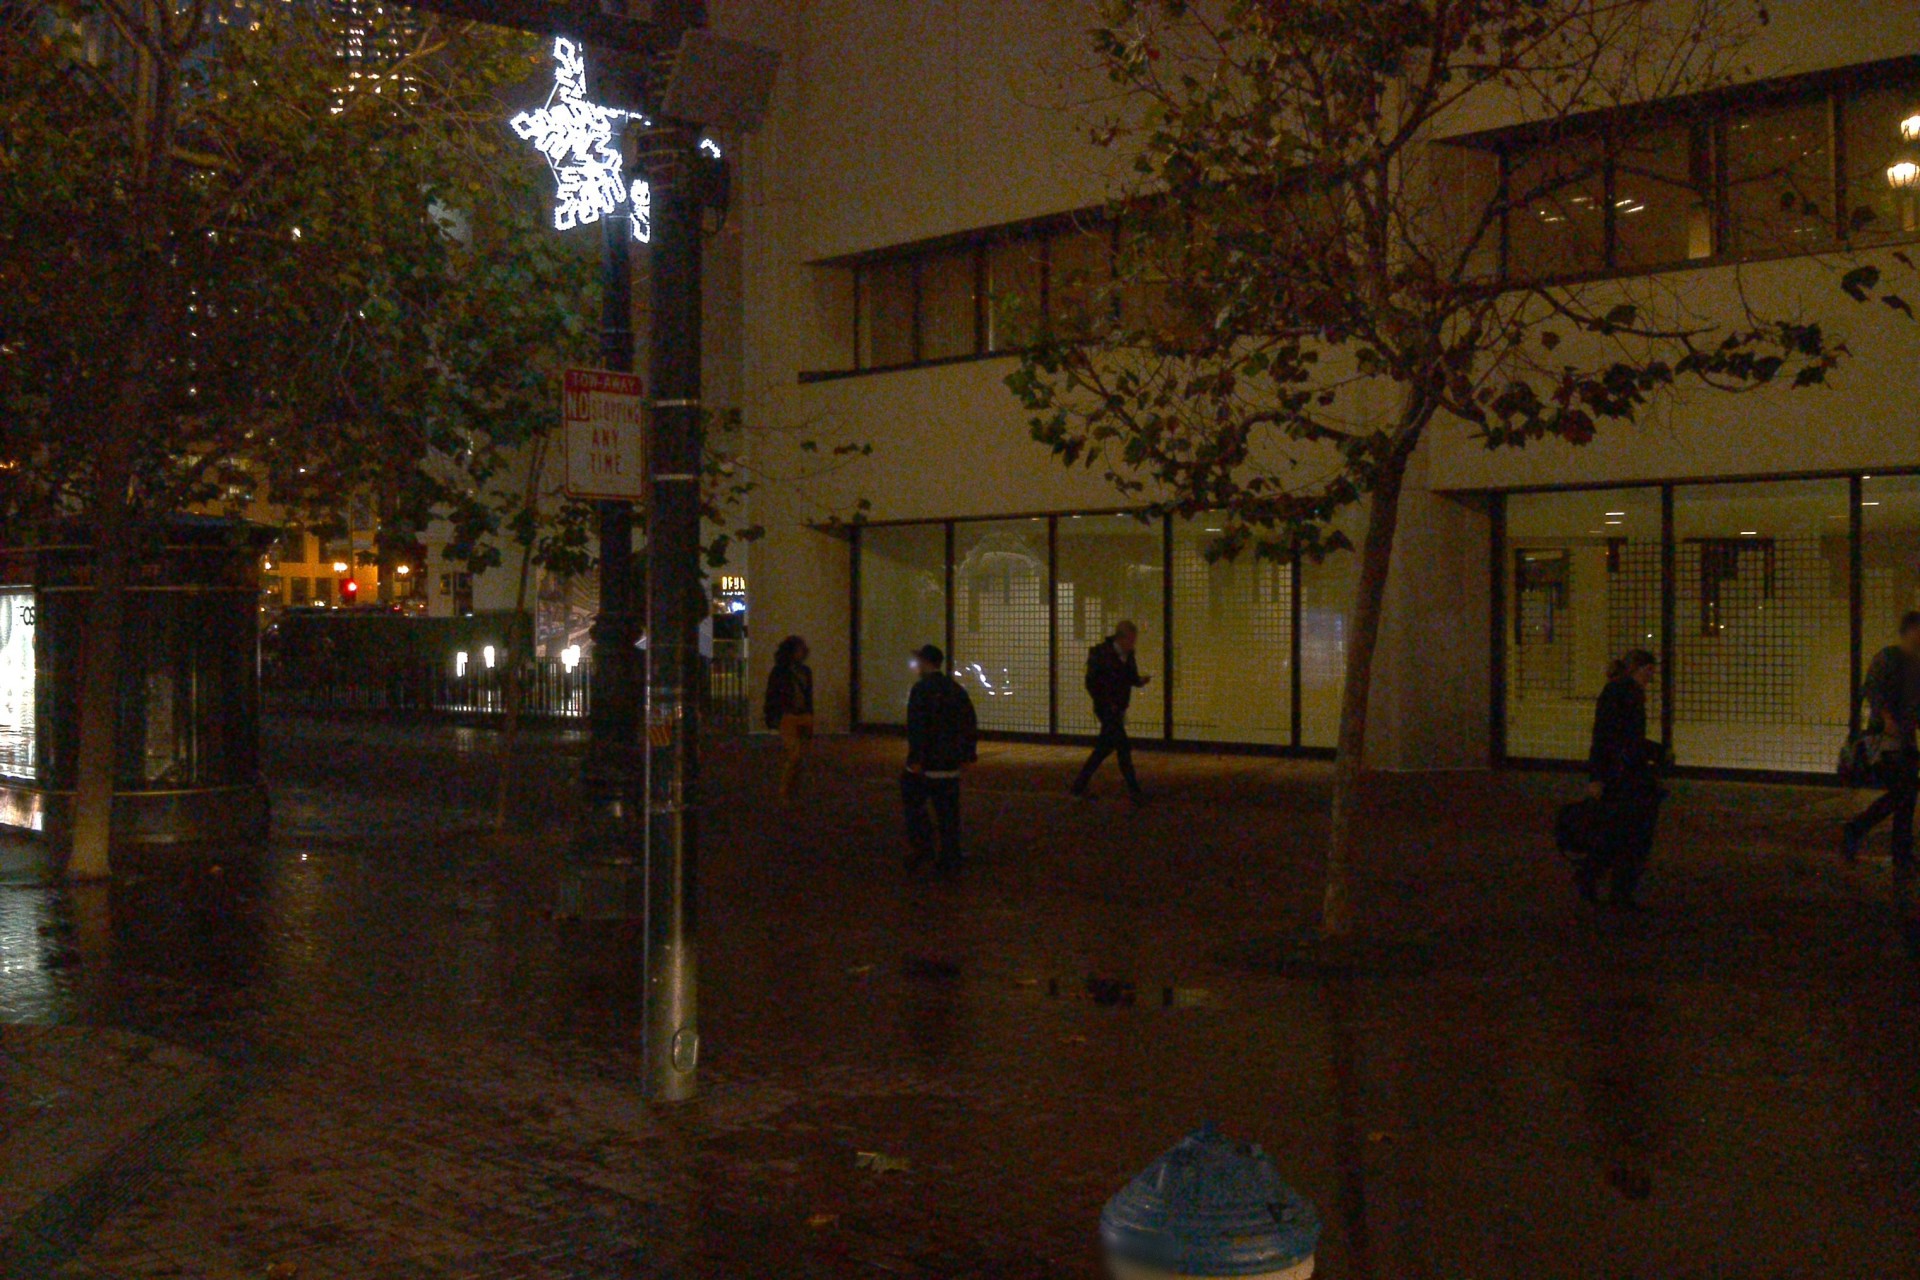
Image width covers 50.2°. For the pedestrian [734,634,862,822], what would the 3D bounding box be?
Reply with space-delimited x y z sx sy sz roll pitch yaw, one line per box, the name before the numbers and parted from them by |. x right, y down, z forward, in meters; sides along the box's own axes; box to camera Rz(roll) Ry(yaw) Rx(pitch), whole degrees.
pedestrian | -1.588 0.833 20.048 0.729 1.780 1.050 1 0 -45

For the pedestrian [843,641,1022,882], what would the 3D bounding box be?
pedestrian | -0.219 0.900 15.865 0.860 1.780 1.104 1 0 -40

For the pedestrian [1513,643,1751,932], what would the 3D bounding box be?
pedestrian | 4.313 0.901 13.168 0.966 1.750 1.094 1 0 -39

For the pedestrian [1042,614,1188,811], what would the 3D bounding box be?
pedestrian | 1.495 0.678 19.788 0.841 1.830 1.114 1 0 -44
